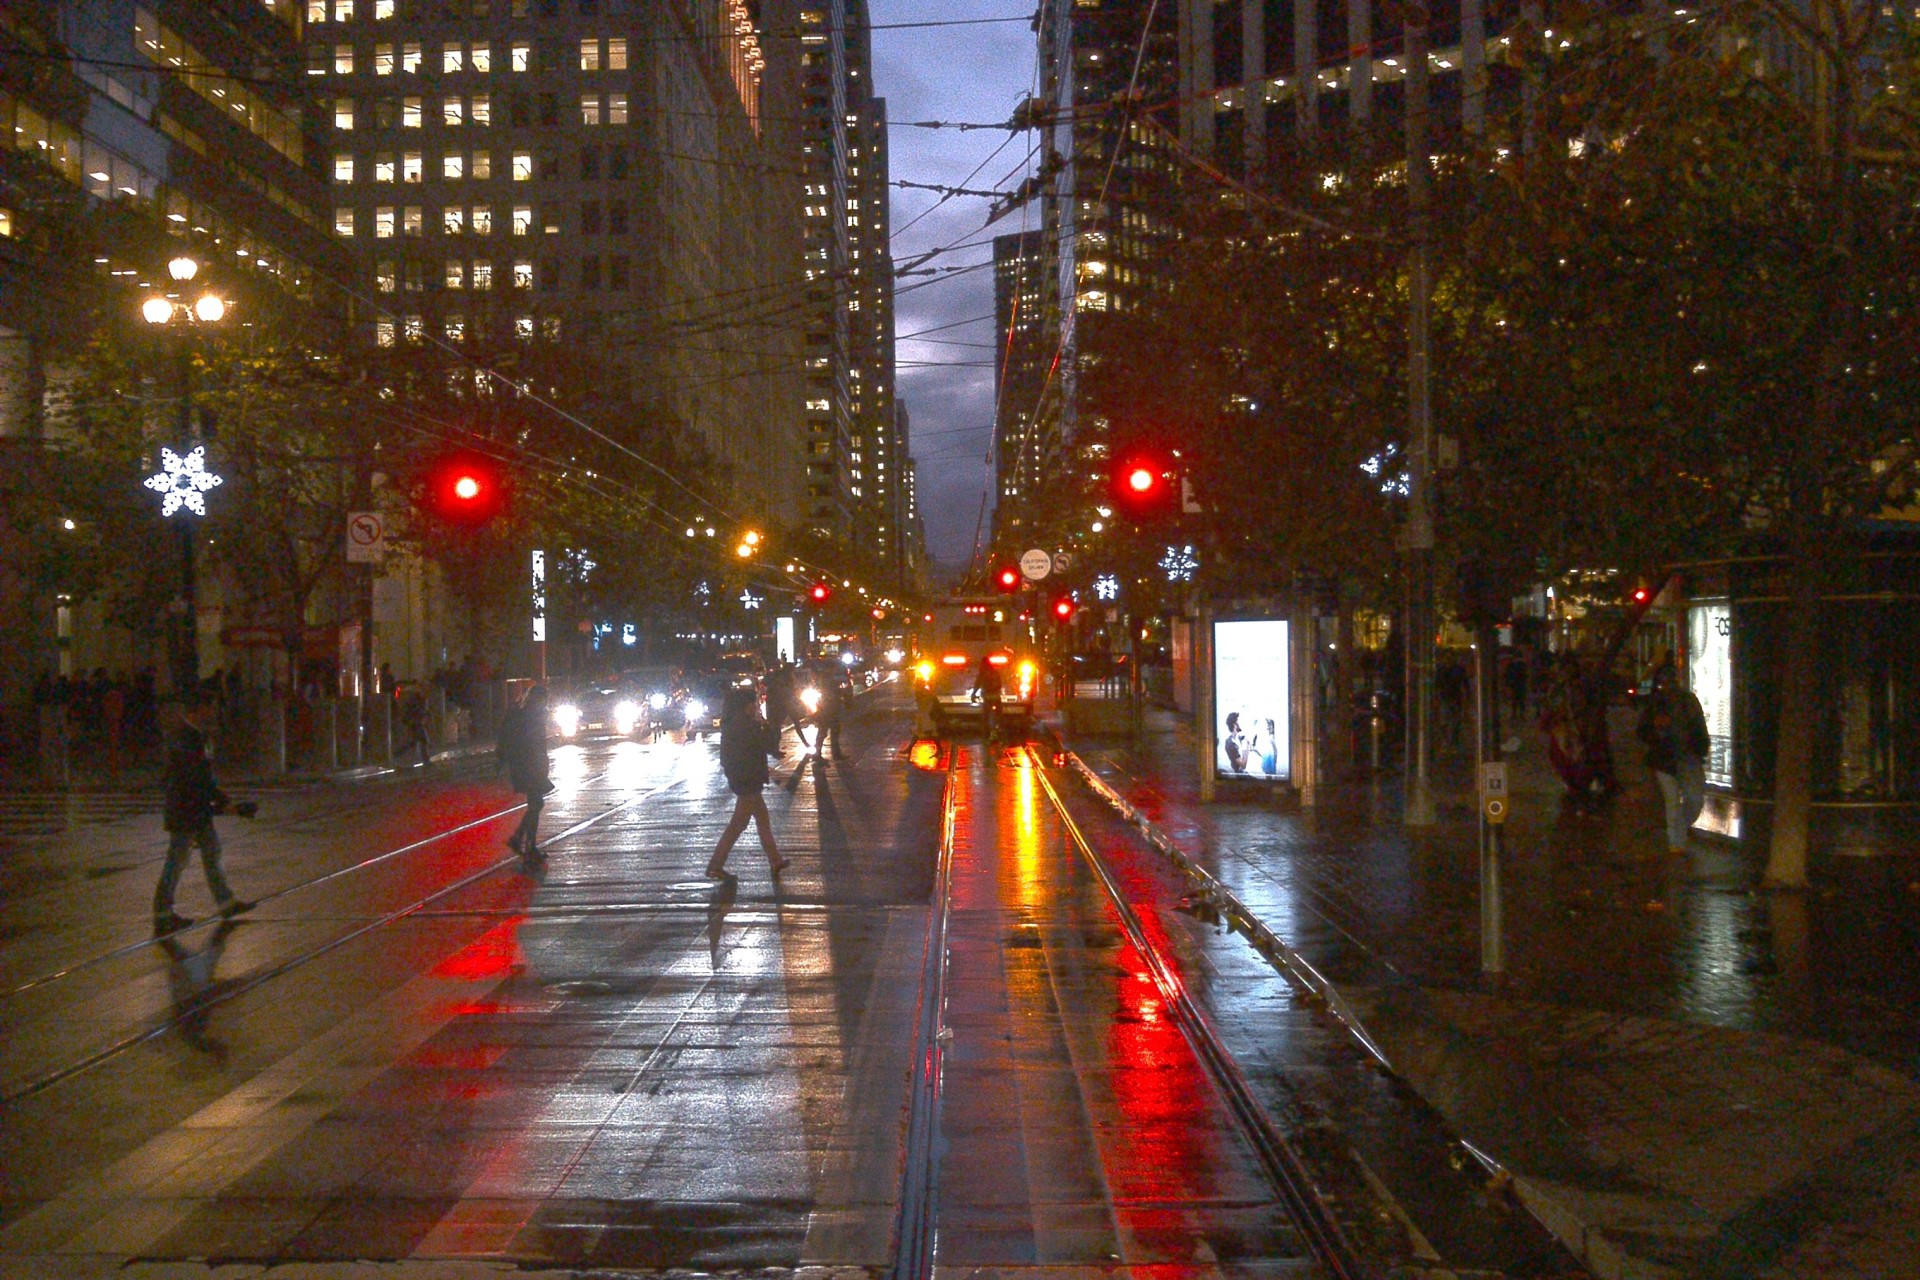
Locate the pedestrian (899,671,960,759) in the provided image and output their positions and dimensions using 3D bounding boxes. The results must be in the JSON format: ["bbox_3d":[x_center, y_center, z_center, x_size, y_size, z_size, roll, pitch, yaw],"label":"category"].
[{"bbox_3d":[-0.568,1.392,38.289,1.000,1.630,0.740,0,0,-14],"label":"pedestrian"}]

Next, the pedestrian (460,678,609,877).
[{"bbox_3d":[-4.229,1.333,20.382,1.218,1.890,0.782,0,0,-40],"label":"pedestrian"}]

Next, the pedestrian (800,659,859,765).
[{"bbox_3d":[-2.312,1.277,36.467,1.021,1.860,0.868,0,0,-2],"label":"pedestrian"}]

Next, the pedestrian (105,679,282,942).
[{"bbox_3d":[-5.962,1.283,15.913,1.203,1.940,0.925,0,0,-25],"label":"pedestrian"}]

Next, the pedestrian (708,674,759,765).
[{"bbox_3d":[-4.129,1.438,37.385,0.878,1.630,0.701,0,0,-2],"label":"pedestrian"}]

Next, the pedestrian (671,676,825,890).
[{"bbox_3d":[-1.901,1.248,18.379,1.105,1.830,0.810,0,0,-42],"label":"pedestrian"}]

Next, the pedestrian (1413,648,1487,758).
[{"bbox_3d":[8.211,1.042,34.276,0.869,1.800,1.149,0,0,33],"label":"pedestrian"}]

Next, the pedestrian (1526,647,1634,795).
[{"bbox_3d":[7.911,1.018,26.161,0.971,1.850,0.908,0,0,-19],"label":"pedestrian"}]

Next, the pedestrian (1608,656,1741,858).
[{"bbox_3d":[6.489,1.036,18.663,0.856,1.780,1.172,0,0,4],"label":"pedestrian"}]
